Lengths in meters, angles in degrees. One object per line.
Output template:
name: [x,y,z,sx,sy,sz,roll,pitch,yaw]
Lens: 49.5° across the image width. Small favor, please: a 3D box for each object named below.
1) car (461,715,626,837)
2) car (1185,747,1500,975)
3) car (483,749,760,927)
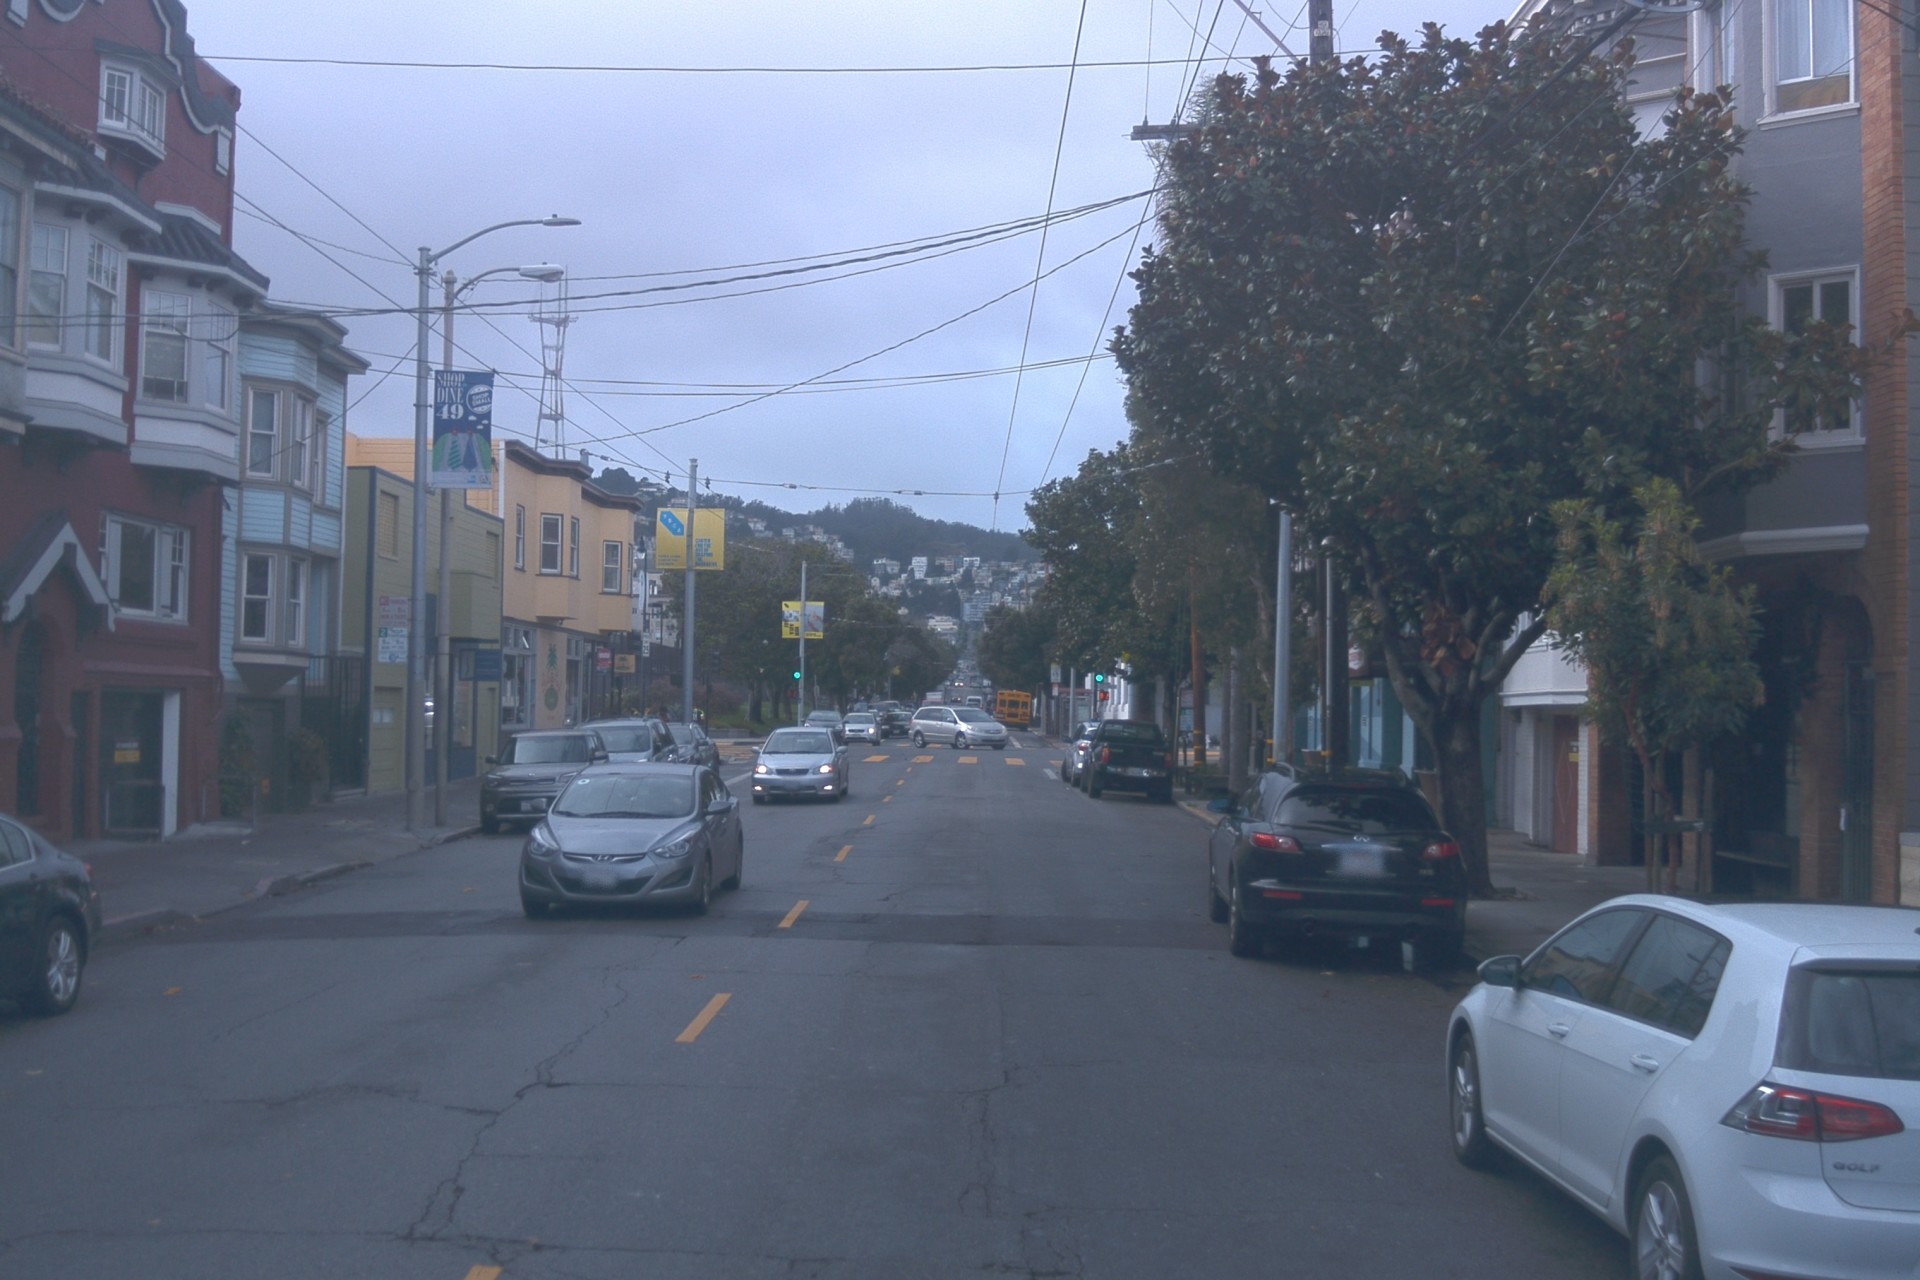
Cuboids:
car: [-6.778,2.182,34.340,2.048,1.800,4.148,1,-2,-3]
car: [3.321,1.889,19.072,2.176,1.670,4.765,1,-2,2]
car: [-3.311,1.933,21.337,2.040,1.480,4.528,1,-2,0]
